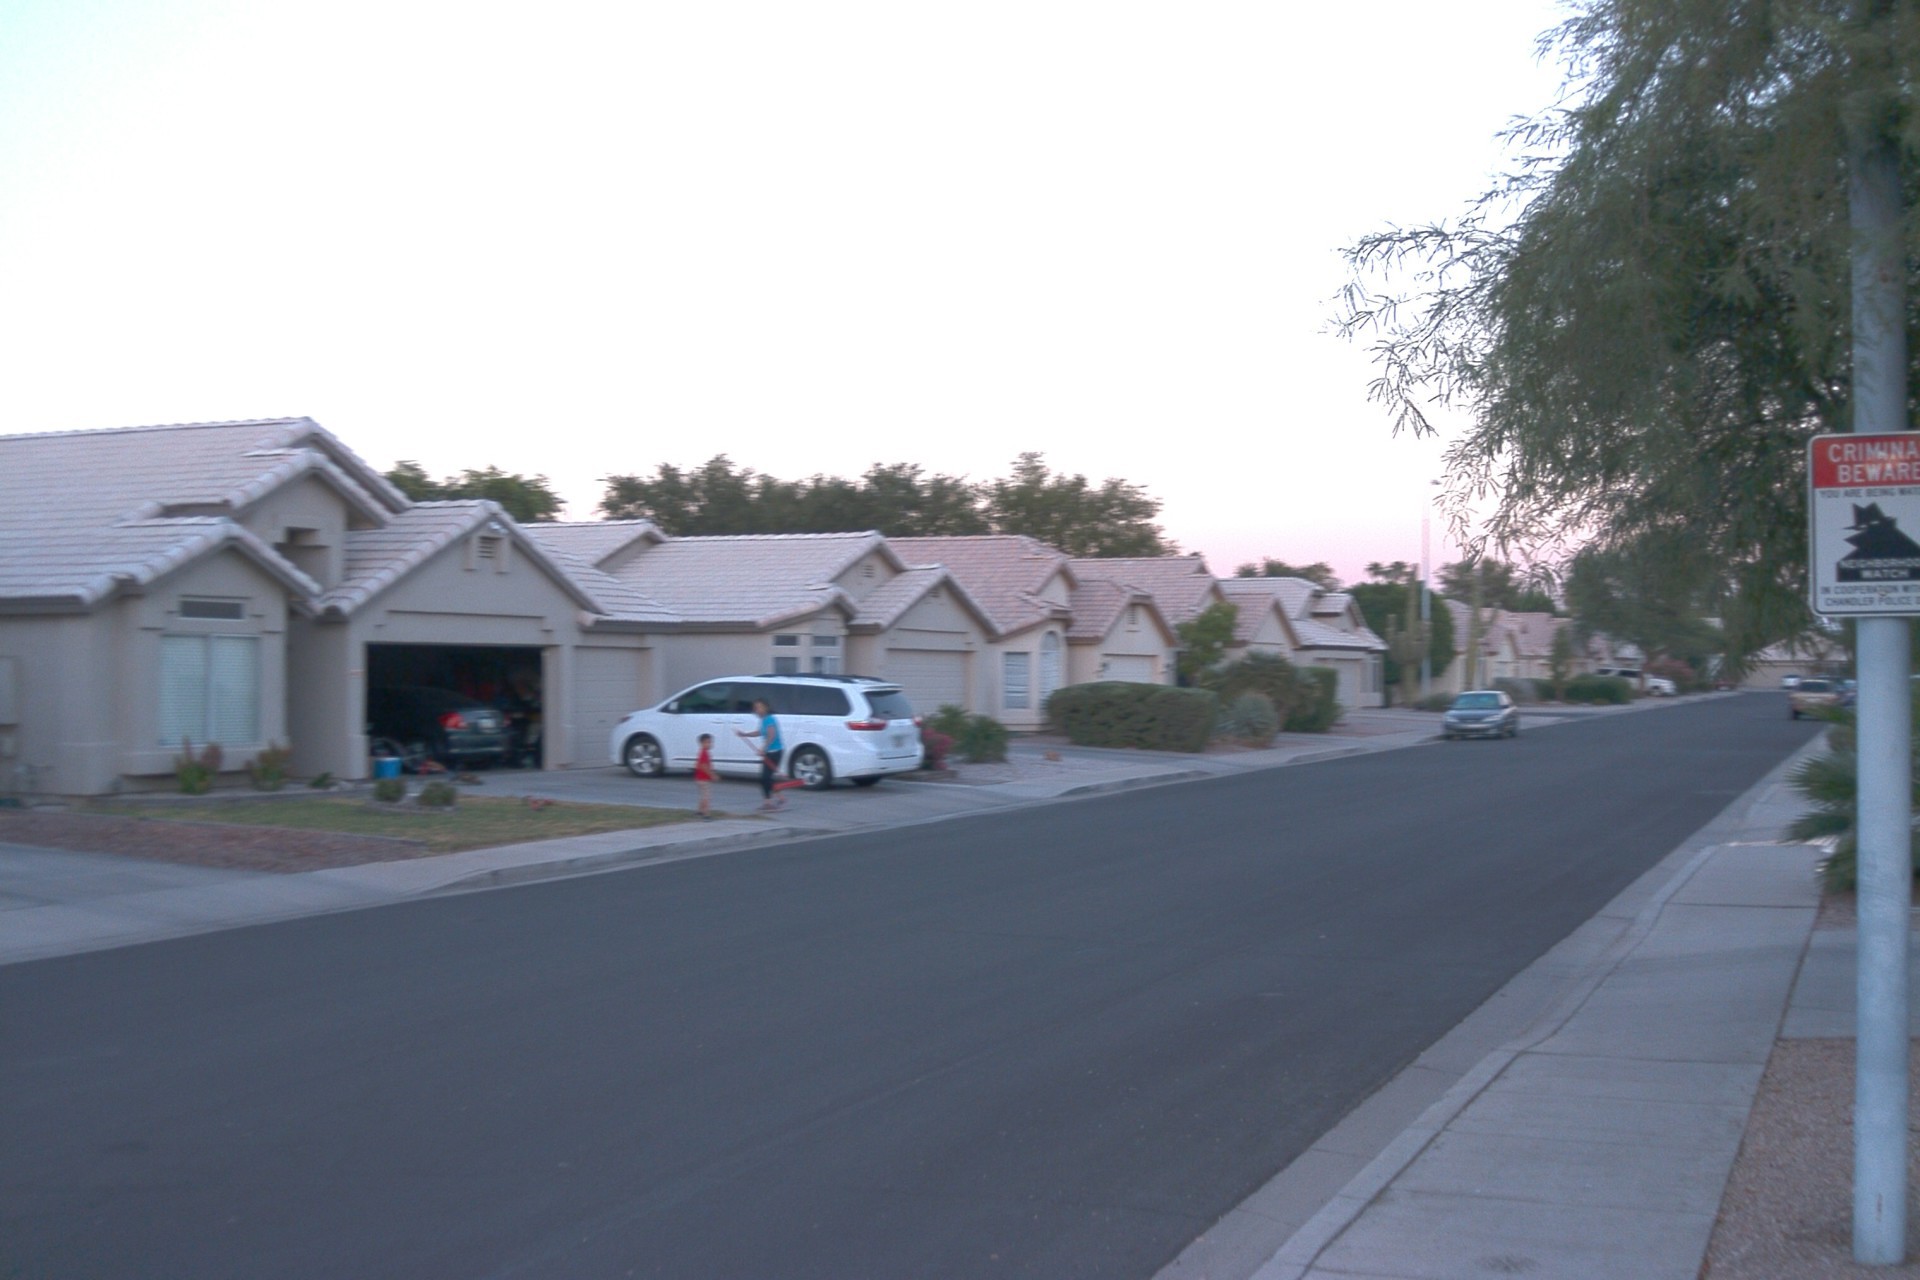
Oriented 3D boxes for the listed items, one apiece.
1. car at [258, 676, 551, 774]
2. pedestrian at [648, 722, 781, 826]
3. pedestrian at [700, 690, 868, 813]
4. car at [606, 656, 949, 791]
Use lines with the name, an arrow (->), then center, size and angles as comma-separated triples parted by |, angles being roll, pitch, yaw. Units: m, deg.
car -> -9.287, 1.370, 34.551 | 4.604, 1.520, 1.877 | 0, -1, 25
pedestrian -> -3.164, 1.696, 26.511 | 1.354, 1.240, 1.536 | 1, -1, -21
pedestrian -> -2.380, 1.474, 27.968 | 1.690, 1.570, 1.505 | 0, -1, 42
car -> -2.966, 1.294, 33.543 | 5.079, 2.040, 2.343 | 0, -1, 27
